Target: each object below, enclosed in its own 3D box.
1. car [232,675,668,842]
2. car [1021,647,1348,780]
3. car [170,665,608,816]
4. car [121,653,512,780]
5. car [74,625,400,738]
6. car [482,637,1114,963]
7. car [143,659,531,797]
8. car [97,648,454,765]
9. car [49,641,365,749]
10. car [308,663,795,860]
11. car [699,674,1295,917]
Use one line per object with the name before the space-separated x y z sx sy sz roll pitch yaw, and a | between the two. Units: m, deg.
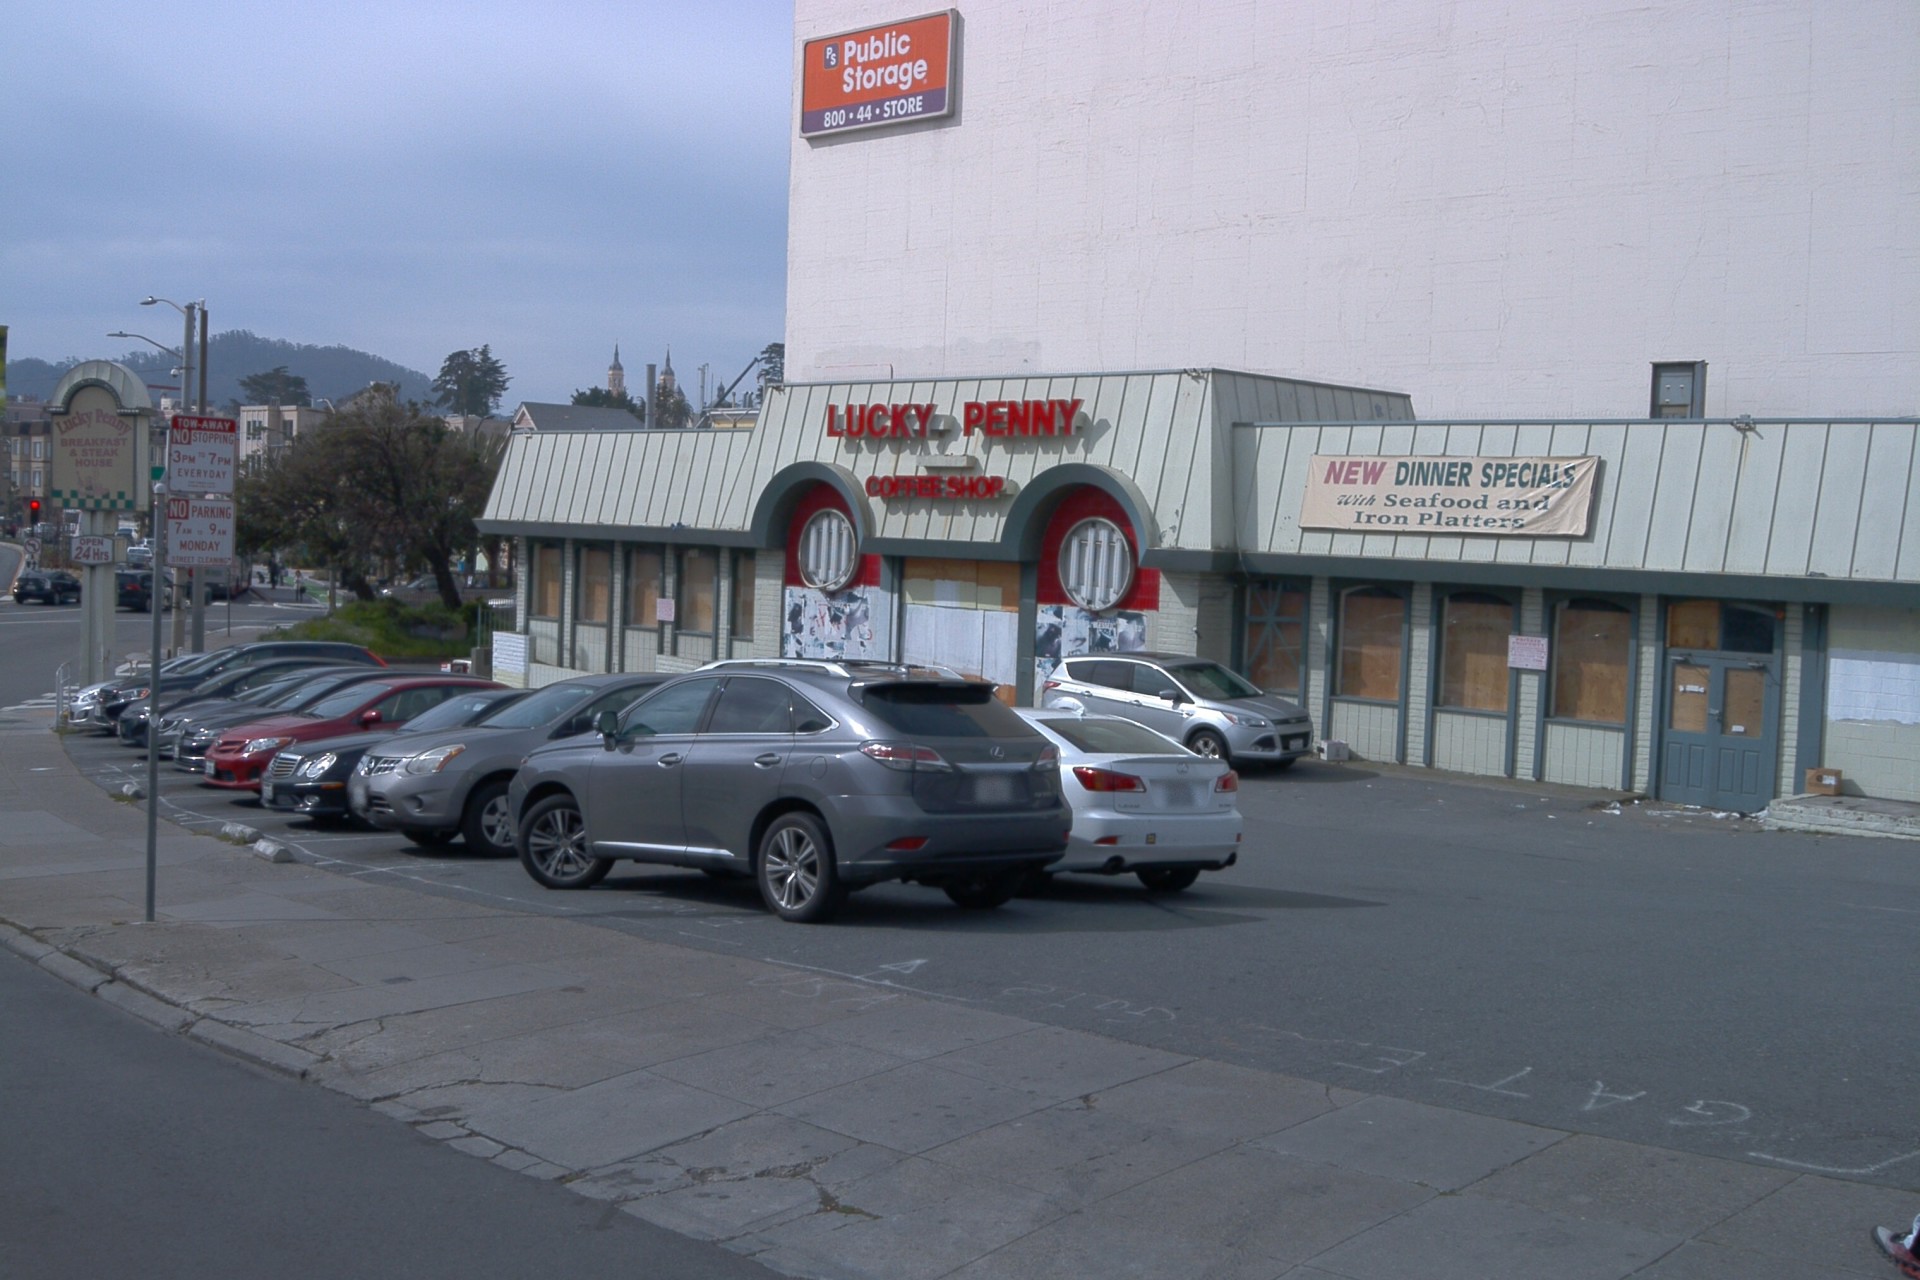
car | -5.262 1.160 21.427 4.029 1.500 1.869 0 0 -45
car | 3.292 1.024 30.718 2.134 1.790 4.557 0 0 -44
car | -6.654 1.097 24.116 4.484 1.550 2.134 0 0 -44
car | -8.979 0.999 28.783 4.736 1.590 2.241 0 0 -44
car | -11.712 0.636 33.334 4.561 1.710 2.059 0 0 -43
car | -1.290 0.961 14.599 2.065 1.920 4.493 0 0 -45
car | -7.969 1.064 26.410 4.343 1.580 1.994 0 0 -43
car | -10.333 0.943 31.105 4.651 1.610 2.192 0 0 -43
car | -13.131 0.910 35.857 4.757 1.740 2.072 0 0 -43
car | -3.712 1.028 19.045 1.975 1.570 4.019 1 0 44
car | 0.161 1.123 16.691 2.088 1.580 4.738 0 0 -44
